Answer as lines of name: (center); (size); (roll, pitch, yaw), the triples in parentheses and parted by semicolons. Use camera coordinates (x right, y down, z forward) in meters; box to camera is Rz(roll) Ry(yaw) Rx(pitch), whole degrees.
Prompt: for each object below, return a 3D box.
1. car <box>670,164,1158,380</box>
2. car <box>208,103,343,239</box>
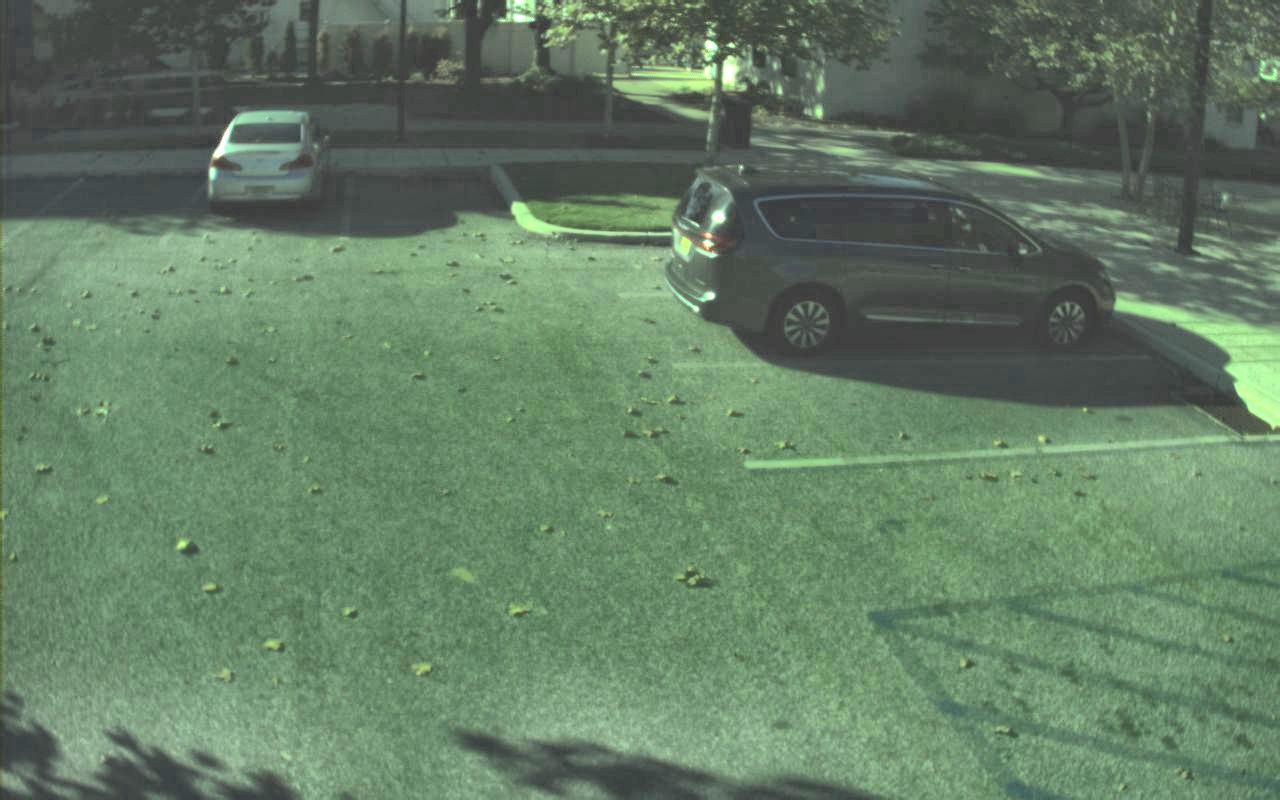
car: (2.944, -1.510, 13.180); (4.923, 1.753, 2.056); (-4, 17, -11)
car: (-5.732, -3.765, 19.278); (1.926, 1.589, 4.467); (-5, 17, -13)
